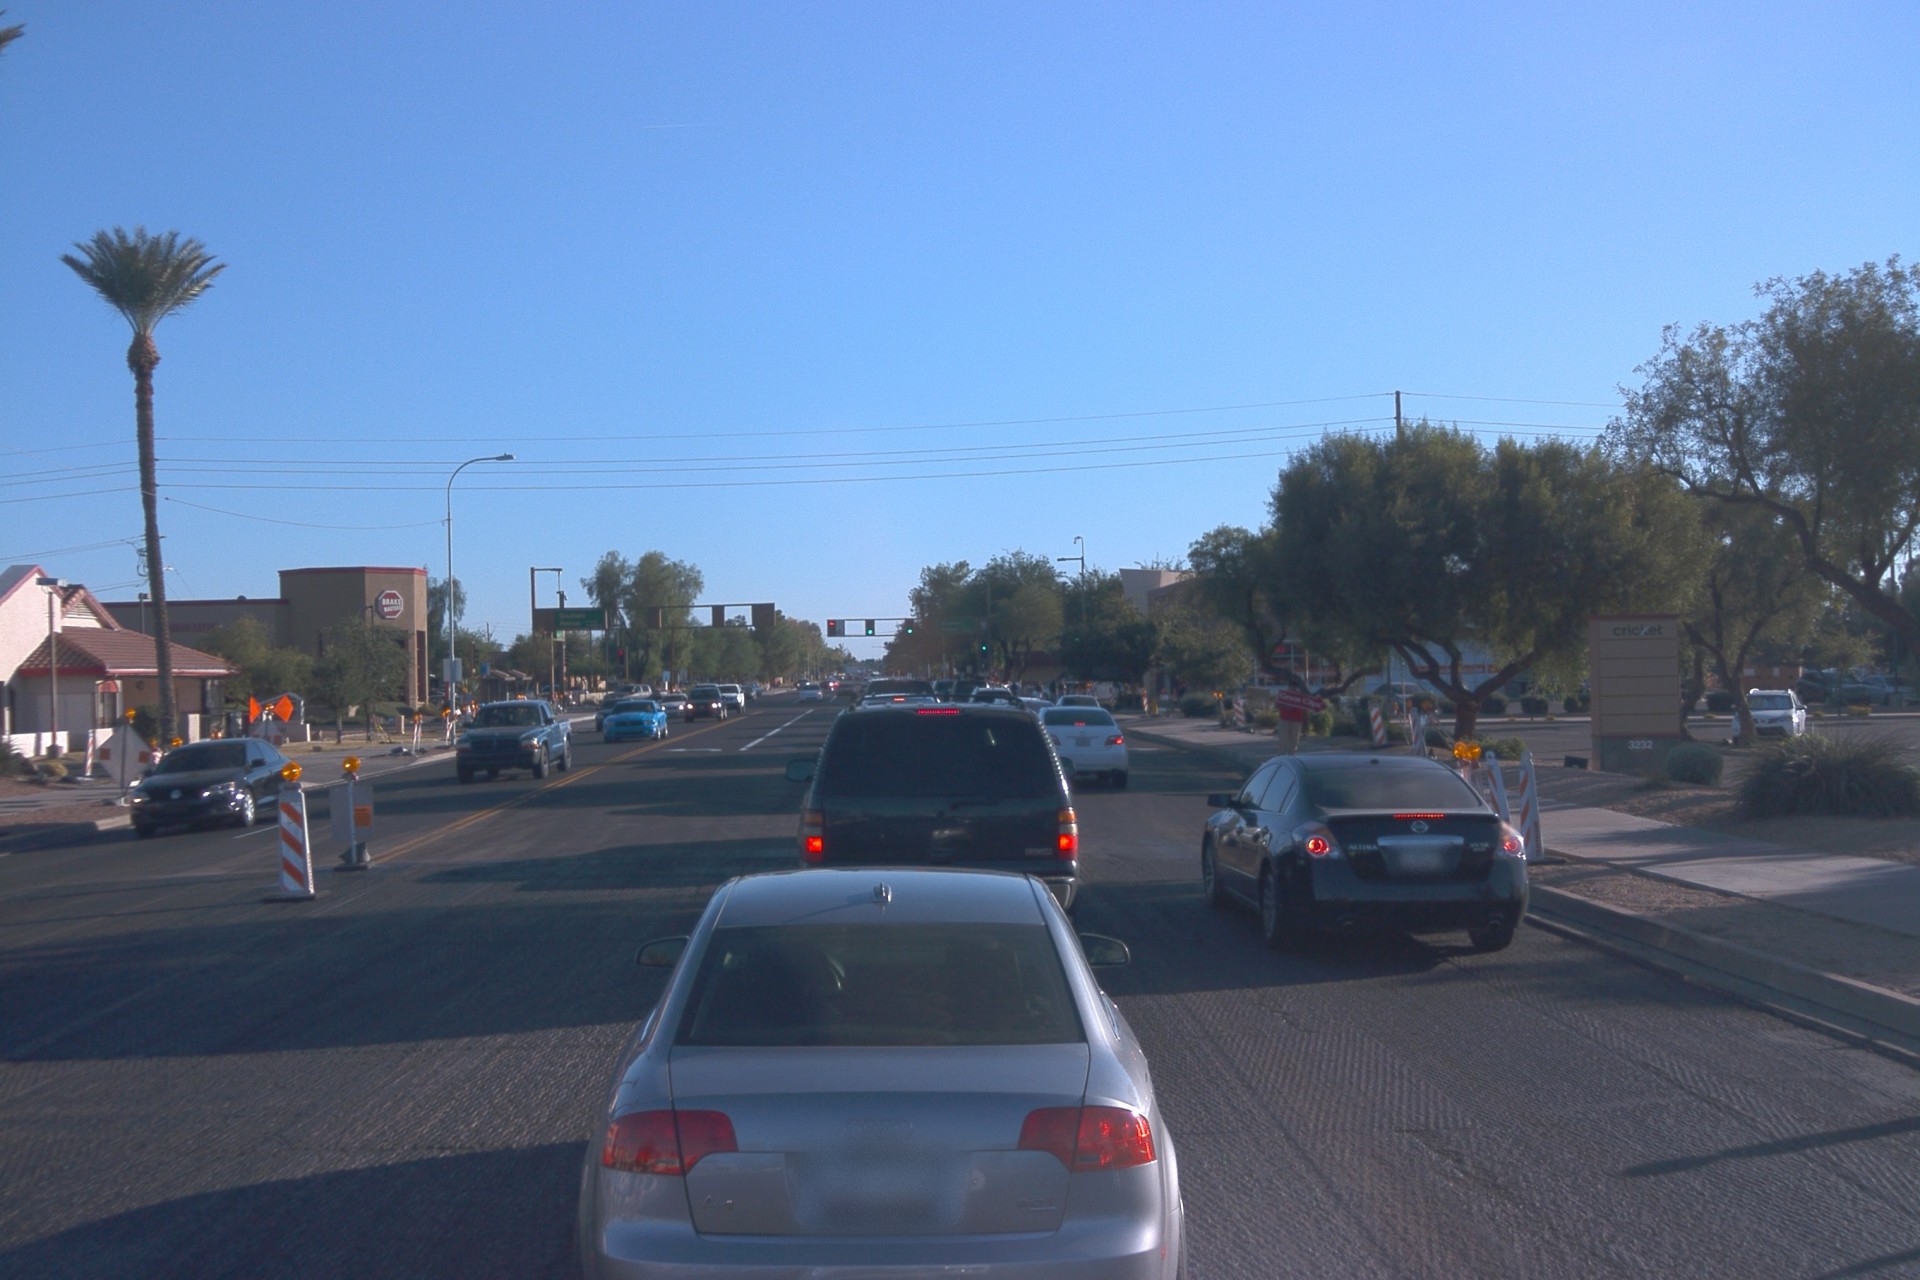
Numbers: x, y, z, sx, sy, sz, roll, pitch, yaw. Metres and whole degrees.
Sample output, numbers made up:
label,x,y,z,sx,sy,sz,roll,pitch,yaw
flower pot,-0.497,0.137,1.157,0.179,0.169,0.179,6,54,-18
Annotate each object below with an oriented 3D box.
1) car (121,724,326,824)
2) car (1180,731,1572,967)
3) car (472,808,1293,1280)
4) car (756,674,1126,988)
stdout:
label,x,y,z,sx,sy,sz,roll,pitch,yaw
car,-12.150,2.180,34.576,2.037,1.440,4.487,0,-1,-3
car,3.130,1.549,16.733,2.064,1.500,4.675,0,-1,-2
car,-0.267,1.481,7.357,2.032,1.480,4.404,0,-1,-2
car,-0.209,1.282,16.061,2.405,2.040,5.063,0,-1,-2
